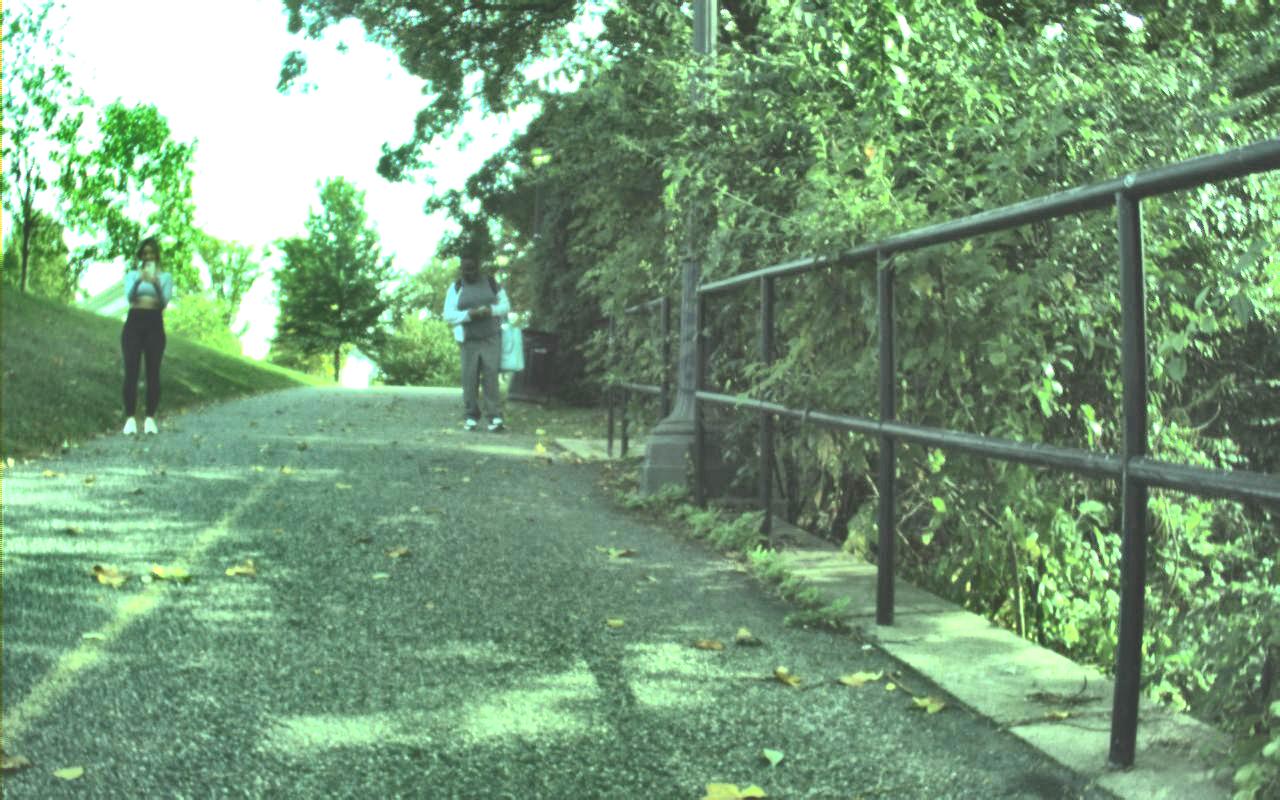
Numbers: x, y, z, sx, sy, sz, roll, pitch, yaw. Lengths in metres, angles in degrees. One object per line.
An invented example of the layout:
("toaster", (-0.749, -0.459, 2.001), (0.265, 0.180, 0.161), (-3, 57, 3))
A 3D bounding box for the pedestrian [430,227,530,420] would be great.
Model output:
("pedestrian", (-1.477, -0.699, 11.650), (0.815, 1.722, 0.840), (0, 0, 0))

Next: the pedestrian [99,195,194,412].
("pedestrian", (-3.988, -0.747, 9.476), (0.741, 1.699, 0.748), (0, 0, -20))
